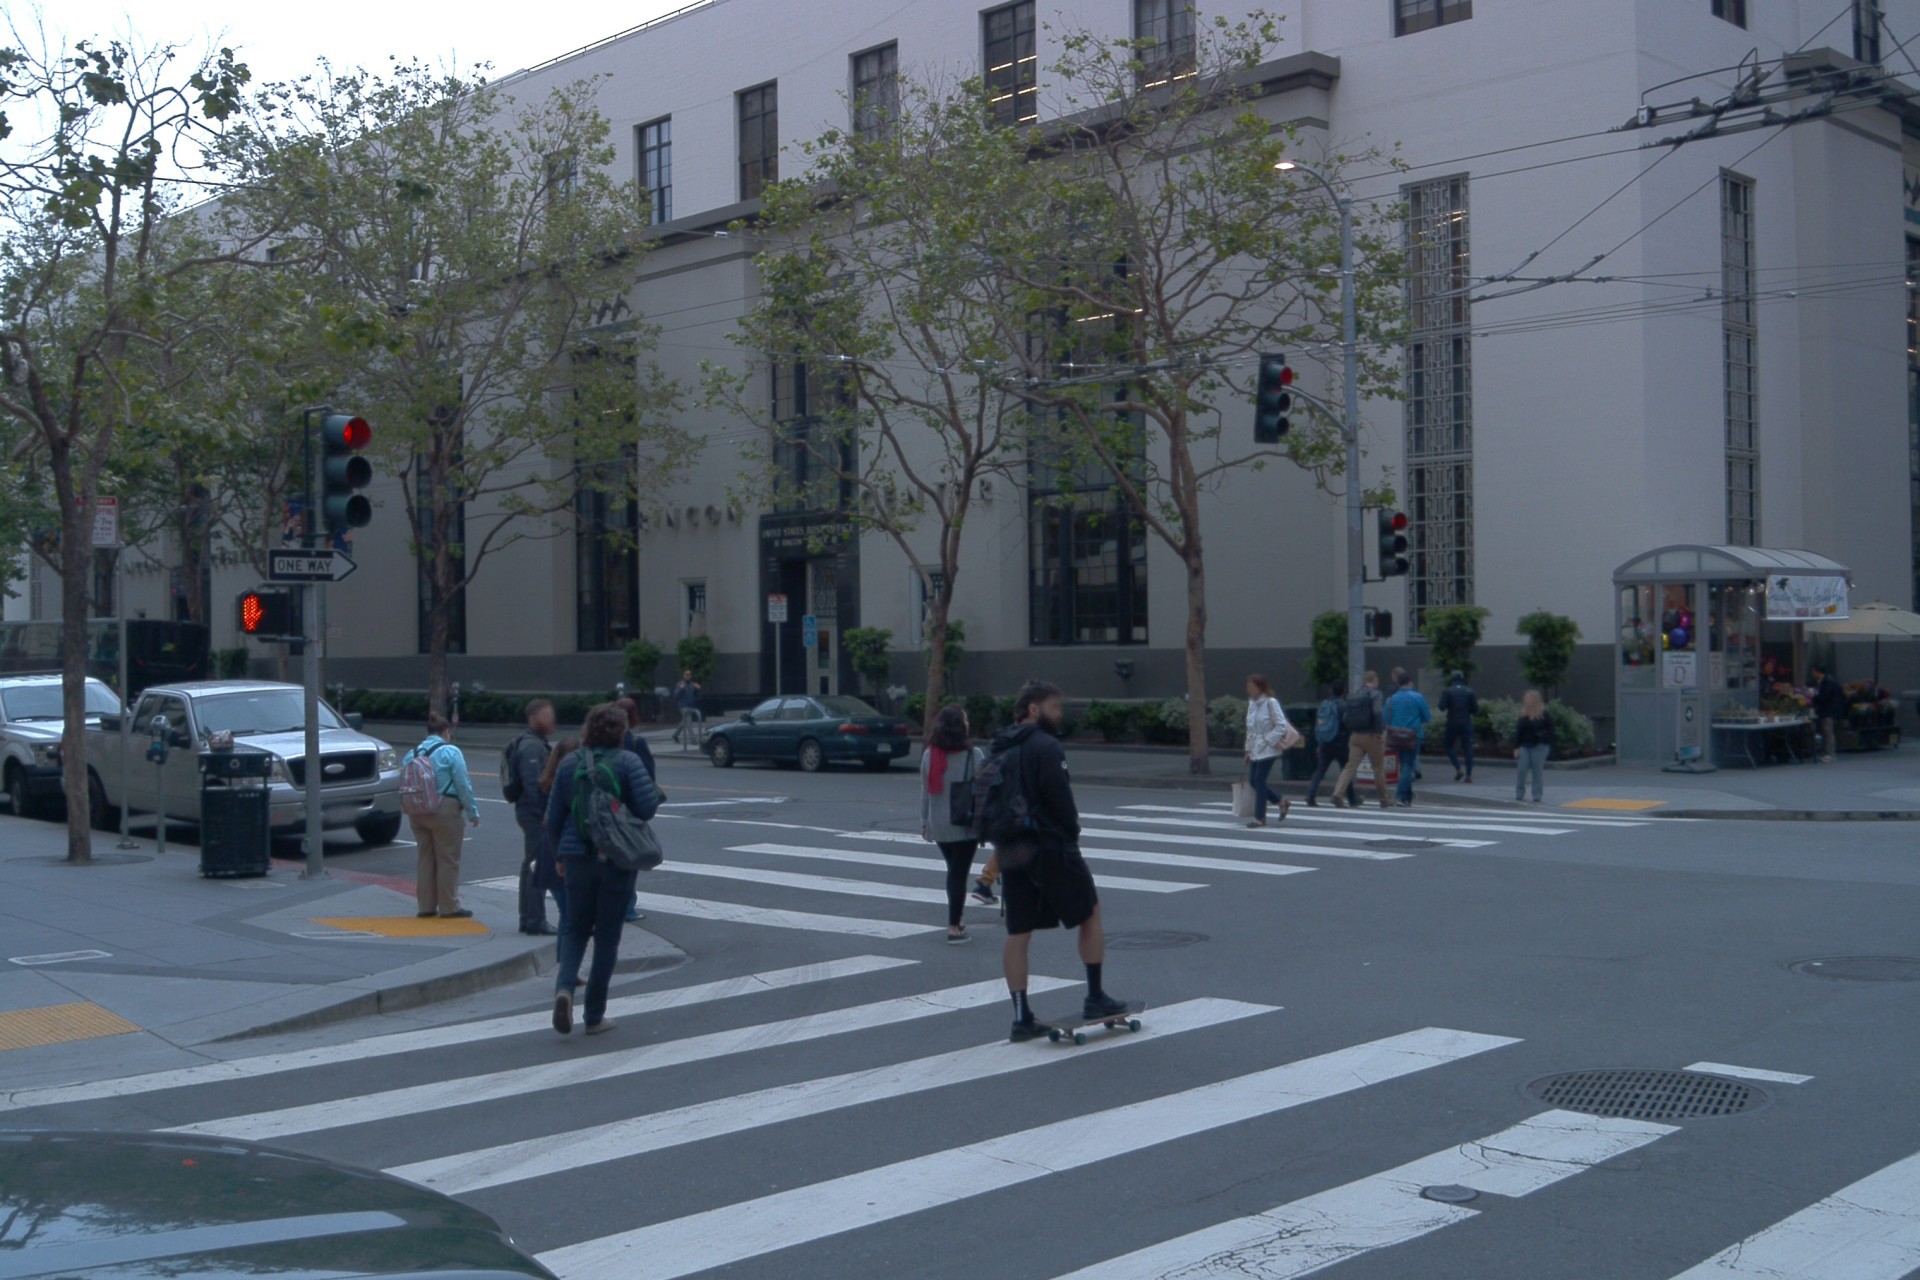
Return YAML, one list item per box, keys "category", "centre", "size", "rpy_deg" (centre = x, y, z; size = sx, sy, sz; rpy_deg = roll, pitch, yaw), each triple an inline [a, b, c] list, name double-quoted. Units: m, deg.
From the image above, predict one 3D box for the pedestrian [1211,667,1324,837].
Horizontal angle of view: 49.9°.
- category: "pedestrian"
  centre: [3.377, 1.207, 22.696]
  size: [0.939, 1.800, 0.808]
  rpy_deg: [0, 1, -24]

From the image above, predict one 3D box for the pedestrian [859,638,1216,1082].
- category: "pedestrian"
  centre: [0.420, 1.059, 10.851]
  size: [1.544, 2.118, 1.097]
  rpy_deg: [-1, 1, -42]

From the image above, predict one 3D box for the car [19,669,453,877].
- category: "car"
  centre: [-8.544, 1.392, 23.966]
  size: [2.501, 1.940, 6.007]
  rpy_deg: [-1, 1, -44]

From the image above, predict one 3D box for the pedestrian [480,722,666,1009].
- category: "pedestrian"
  centre: [-2.504, 1.429, 13.431]
  size: [0.883, 1.741, 0.891]
  rpy_deg: [0, 1, 14]

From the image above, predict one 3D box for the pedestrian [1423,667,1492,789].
- category: "pedestrian"
  centre: [7.541, 1.321, 31.326]
  size: [0.755, 1.796, 0.985]
  rpy_deg: [0, 1, -4]

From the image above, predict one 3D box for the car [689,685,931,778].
- category: "car"
  centre: [-2.883, 1.674, 38.796]
  size: [2.016, 1.480, 4.678]
  rpy_deg: [-1, 1, -44]

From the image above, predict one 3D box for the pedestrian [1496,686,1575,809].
- category: "pedestrian"
  centre: [8.035, 1.487, 28.797]
  size: [0.735, 1.646, 0.894]
  rpy_deg: [1, 1, 42]

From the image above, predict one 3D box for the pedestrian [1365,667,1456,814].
- category: "pedestrian"
  centre: [6.044, 1.327, 27.675]
  size: [0.798, 1.896, 0.984]
  rpy_deg: [1, 1, 43]

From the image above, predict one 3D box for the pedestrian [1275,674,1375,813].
- category: "pedestrian"
  centre: [4.698, 1.313, 26.557]
  size: [0.974, 1.706, 0.840]
  rpy_deg: [-1, 1, -43]

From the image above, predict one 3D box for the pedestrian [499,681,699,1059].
- category: "pedestrian"
  centre: [-1.991, 1.230, 11.534]
  size: [0.844, 1.969, 1.164]
  rpy_deg: [0, 1, 3]

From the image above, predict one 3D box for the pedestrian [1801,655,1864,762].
- category: "pedestrian"
  centre: [14.668, 1.140, 34.691]
  size: [0.751, 1.746, 0.848]
  rpy_deg: [1, 1, 42]

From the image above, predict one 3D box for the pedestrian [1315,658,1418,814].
- category: "pedestrian"
  centre: [5.117, 1.185, 26.004]
  size: [1.051, 1.896, 0.762]
  rpy_deg: [-1, 1, -36]

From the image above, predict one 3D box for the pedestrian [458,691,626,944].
- category: "pedestrian"
  centre: [-3.195, 1.317, 15.780]
  size: [0.942, 1.809, 0.850]
  rpy_deg: [-1, 1, -43]

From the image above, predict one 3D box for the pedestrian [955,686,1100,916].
- category: "pedestrian"
  centre: [0.553, 1.279, 16.796]
  size: [0.964, 1.771, 0.716]
  rpy_deg: [-1, 1, -45]

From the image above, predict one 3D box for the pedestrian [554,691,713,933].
- category: "pedestrian"
  centre: [-2.661, 1.364, 16.831]
  size: [0.828, 1.856, 0.973]
  rpy_deg: [1, 1, 42]

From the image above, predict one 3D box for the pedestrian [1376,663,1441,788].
- category: "pedestrian"
  centre: [6.865, 1.299, 31.606]
  size: [0.680, 1.856, 0.976]
  rpy_deg: [0, 1, -8]

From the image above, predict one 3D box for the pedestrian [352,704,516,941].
- category: "pedestrian"
  centre: [-4.196, 1.424, 16.503]
  size: [0.830, 1.767, 1.012]
  rpy_deg: [0, 1, 21]

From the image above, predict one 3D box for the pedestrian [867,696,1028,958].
- category: "pedestrian"
  centre: [-0.077, 1.294, 14.705]
  size: [0.796, 1.739, 1.043]
  rpy_deg: [0, 1, 23]
